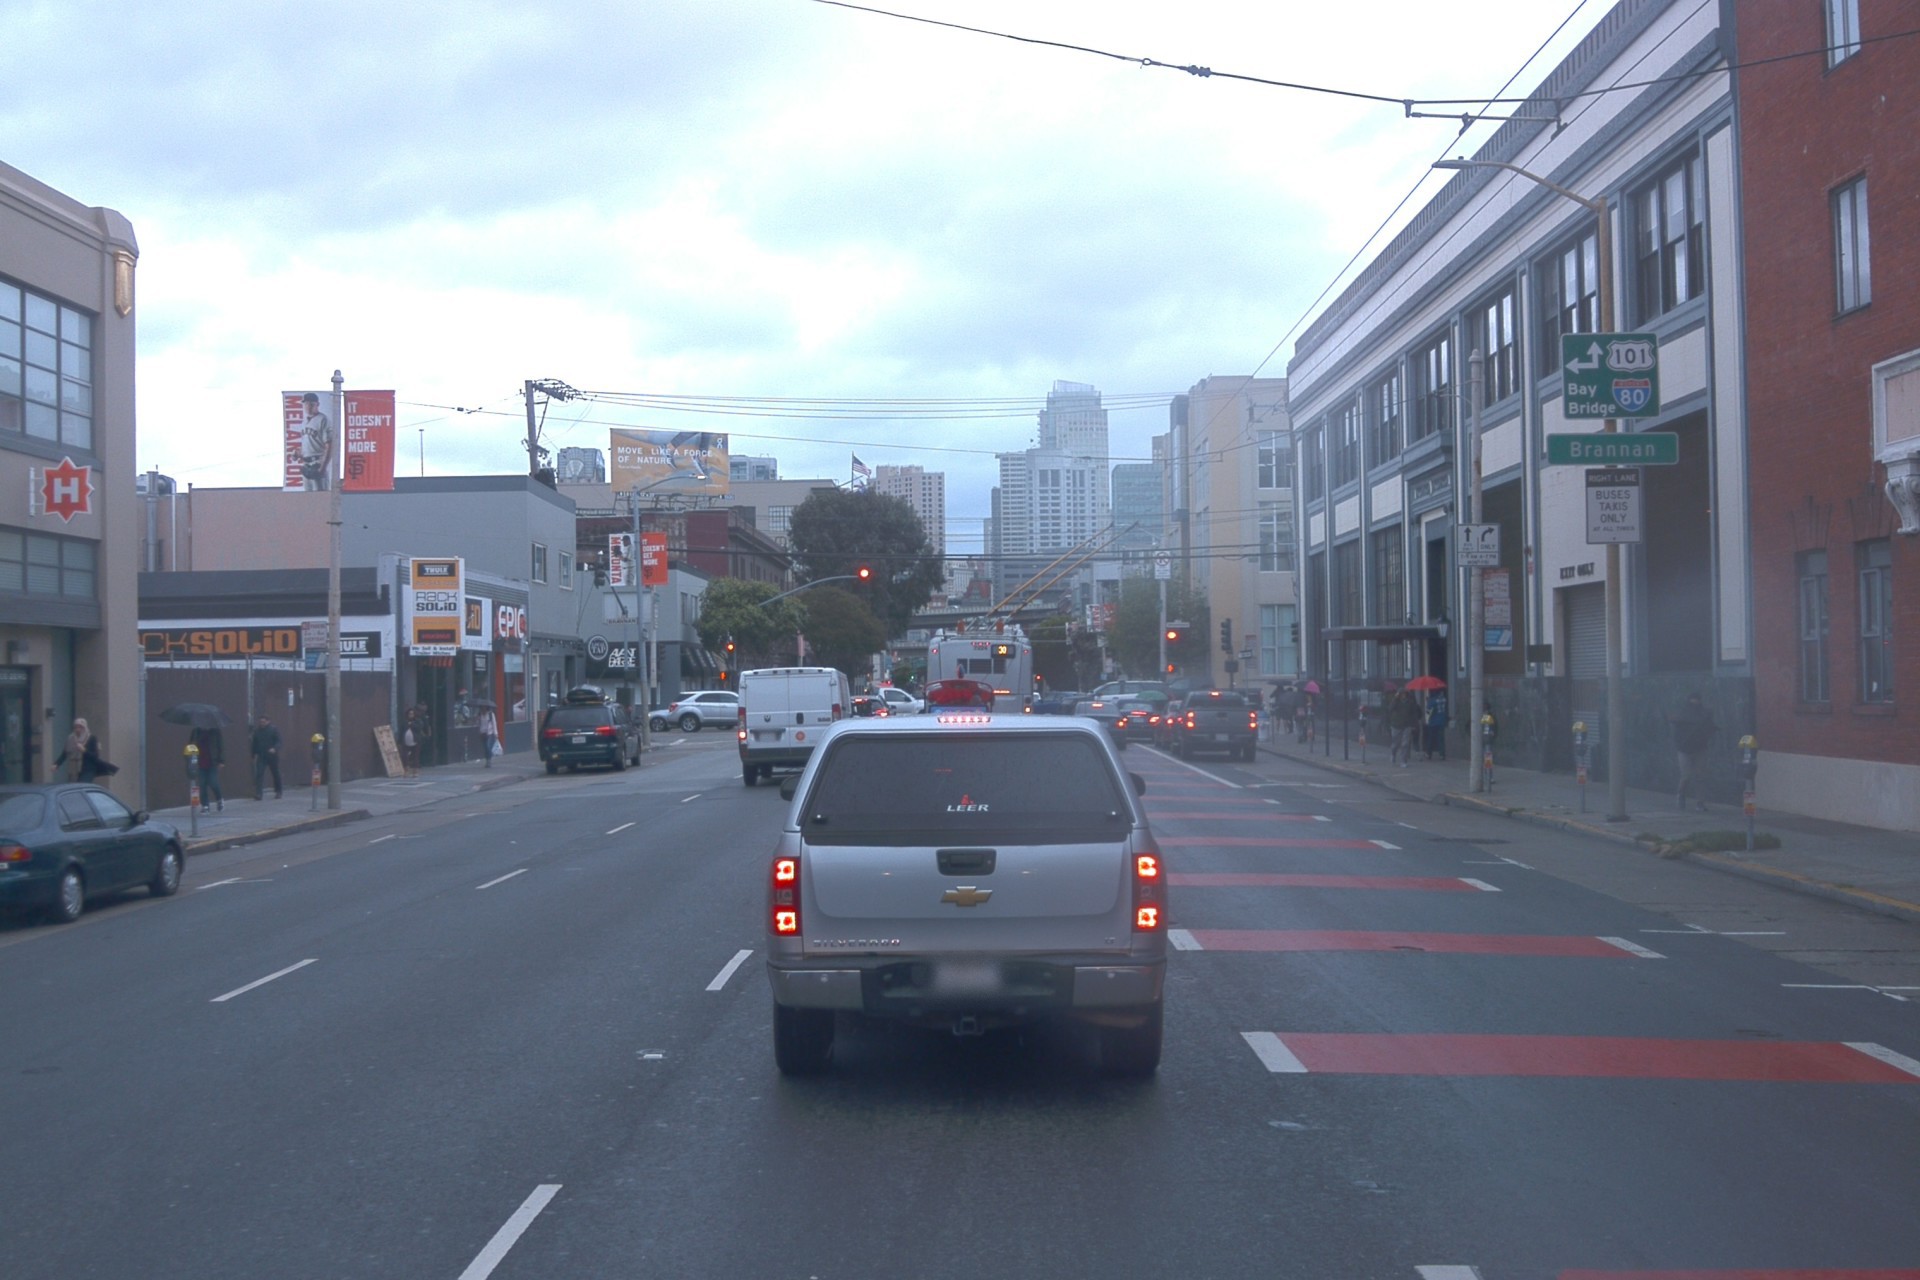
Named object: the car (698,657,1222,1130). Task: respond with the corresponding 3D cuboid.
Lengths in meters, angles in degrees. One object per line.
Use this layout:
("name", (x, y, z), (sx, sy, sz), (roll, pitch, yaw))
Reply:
("car", (0.014, 1.220, 12.144), (2.437, 2.200, 4.924), (0, -1, 0))

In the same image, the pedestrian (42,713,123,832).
("pedestrian", (-13.125, 1.967, 31.021), (0.852, 1.740, 0.841), (0, -1, 0))

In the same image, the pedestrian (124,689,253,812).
("pedestrian", (-12.617, 1.791, 33.974), (1.514, 1.950, 1.493), (0, -1, 2))

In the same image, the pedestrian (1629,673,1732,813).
("pedestrian", (10.404, 1.463, 29.997), (1.012, 1.970, 1.529), (0, -1, 3))
